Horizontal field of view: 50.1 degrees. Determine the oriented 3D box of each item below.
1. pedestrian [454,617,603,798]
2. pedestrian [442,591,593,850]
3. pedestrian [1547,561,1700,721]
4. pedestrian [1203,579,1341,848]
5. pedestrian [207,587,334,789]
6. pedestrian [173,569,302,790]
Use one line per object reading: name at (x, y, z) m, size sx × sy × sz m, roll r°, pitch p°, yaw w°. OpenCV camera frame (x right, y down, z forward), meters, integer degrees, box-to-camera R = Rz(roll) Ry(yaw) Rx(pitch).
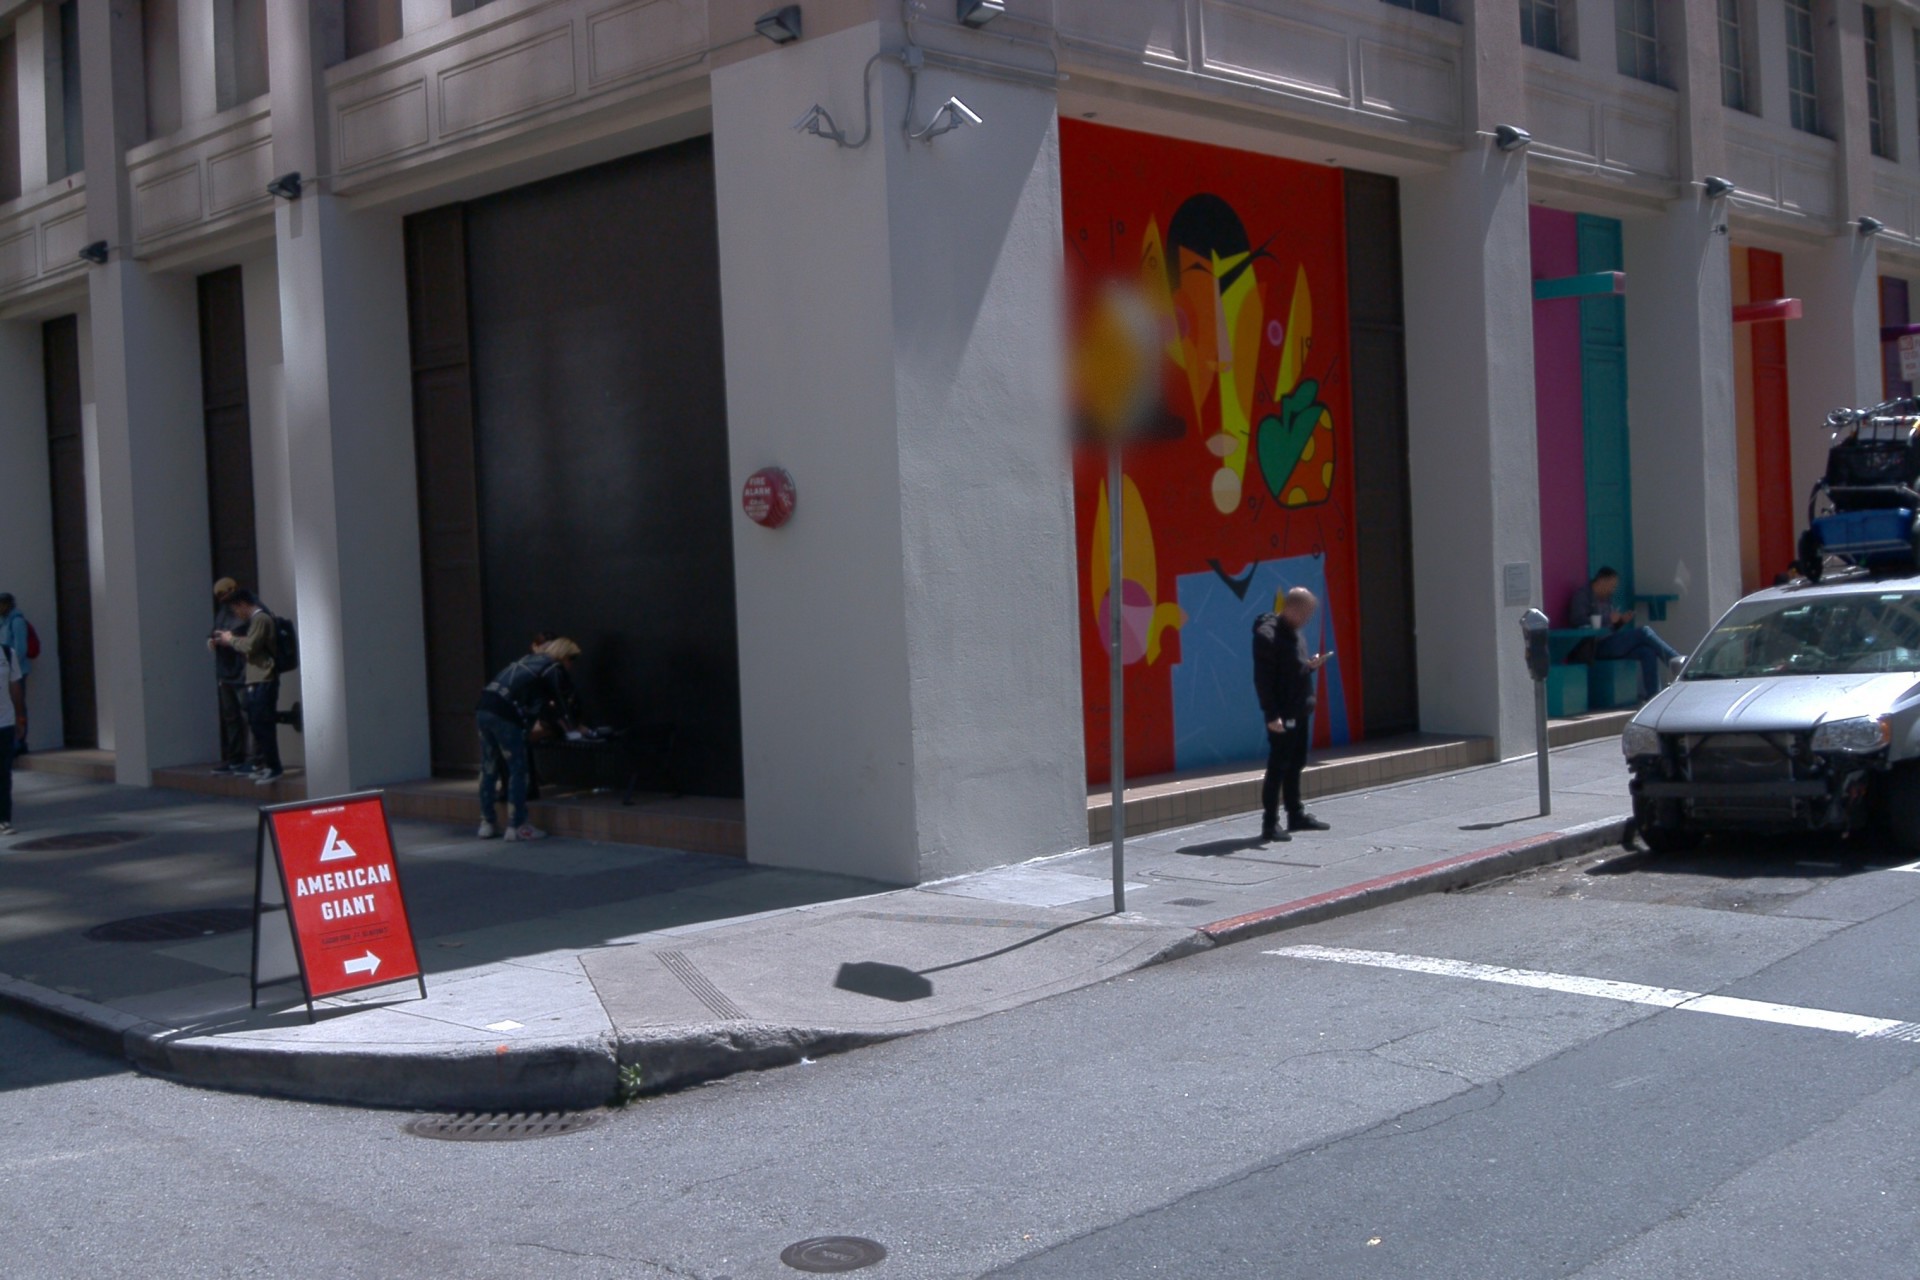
pedestrian at (-3.282, 0.491, 15.647) m, size 0.747 × 1.328 × 0.832 m, roll 0°, pitch 0°, yaw 43°
pedestrian at (-3.259, 0.566, 15.155) m, size 0.674 × 1.838 × 0.853 m, roll 0°, pitch 0°, yaw 41°
pedestrian at (6.245, 0.002, 19.371) m, size 1.166 × 1.457 × 0.752 m, roll 0°, pitch 0°, yaw 42°
pedestrian at (2.095, 0.470, 13.789) m, size 0.751 × 1.740 × 0.573 m, roll 0°, pitch 0°, yaw -45°
pedestrian at (-6.142, 0.409, 18.321) m, size 0.701 × 1.744 × 0.827 m, roll 0°, pitch 0°, yaw 43°
pedestrian at (-6.584, 0.343, 18.742) m, size 0.774 × 1.953 × 0.848 m, roll 0°, pitch 0°, yaw 43°
